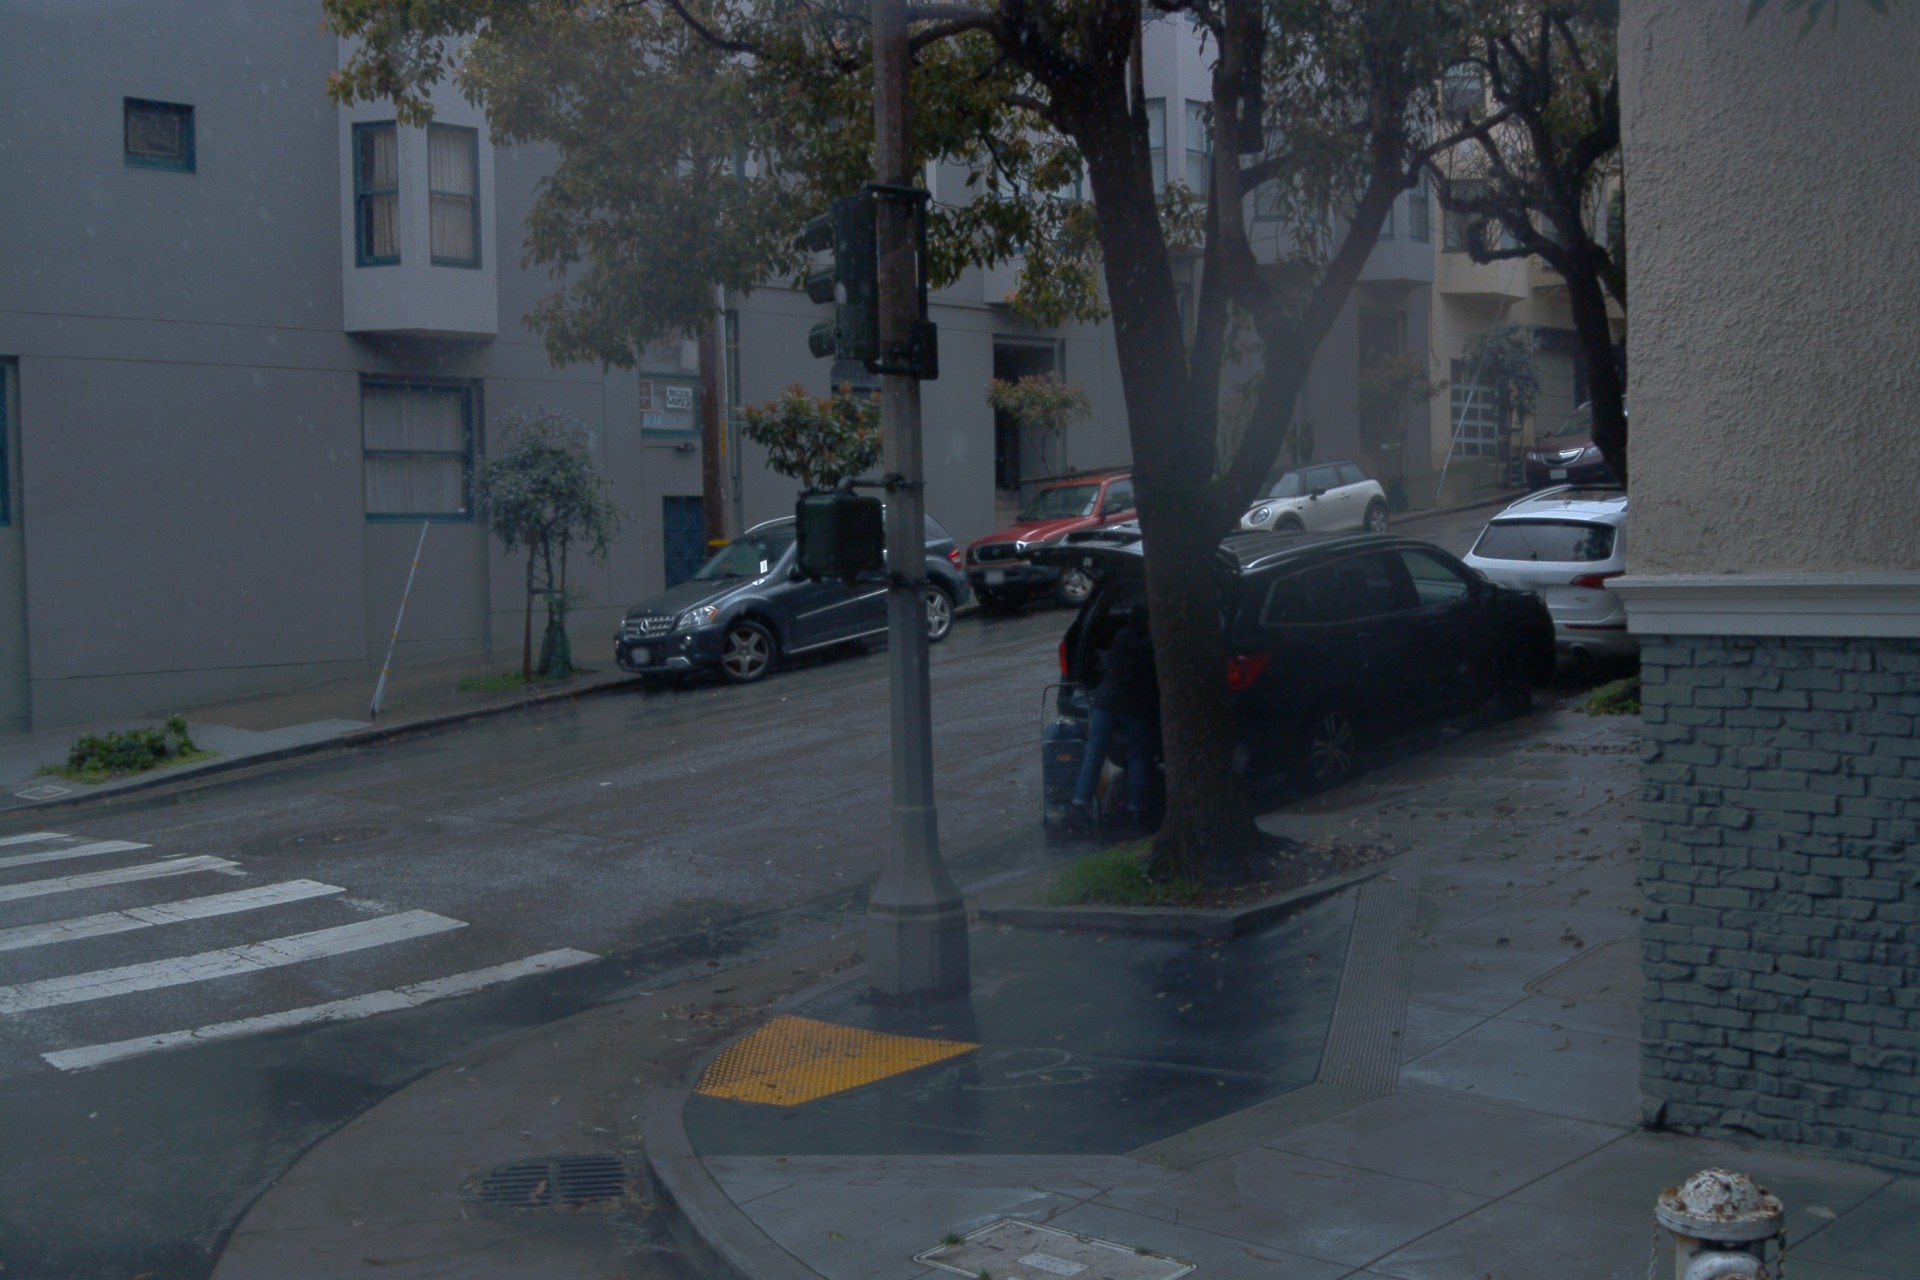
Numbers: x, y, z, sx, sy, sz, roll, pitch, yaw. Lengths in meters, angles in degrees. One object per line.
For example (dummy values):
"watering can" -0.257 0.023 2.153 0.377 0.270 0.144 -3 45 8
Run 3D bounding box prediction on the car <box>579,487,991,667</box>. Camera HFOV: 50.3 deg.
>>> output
"car" -2.050 -0.690 24.963 2.225 1.980 4.671 0 0 45

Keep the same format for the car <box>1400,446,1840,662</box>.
"car" 6.524 -0.724 19.878 2.355 1.840 4.675 0 0 42

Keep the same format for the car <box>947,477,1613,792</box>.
"car" 2.723 -0.027 16.096 2.384 2.040 5.680 0 0 43

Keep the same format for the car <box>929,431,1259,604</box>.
"car" 1.985 -1.646 29.237 4.537 2.180 2.259 0 0 -45

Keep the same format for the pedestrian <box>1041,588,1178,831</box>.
"pedestrian" 1.053 0.467 14.252 0.793 1.634 0.885 0 0 16
